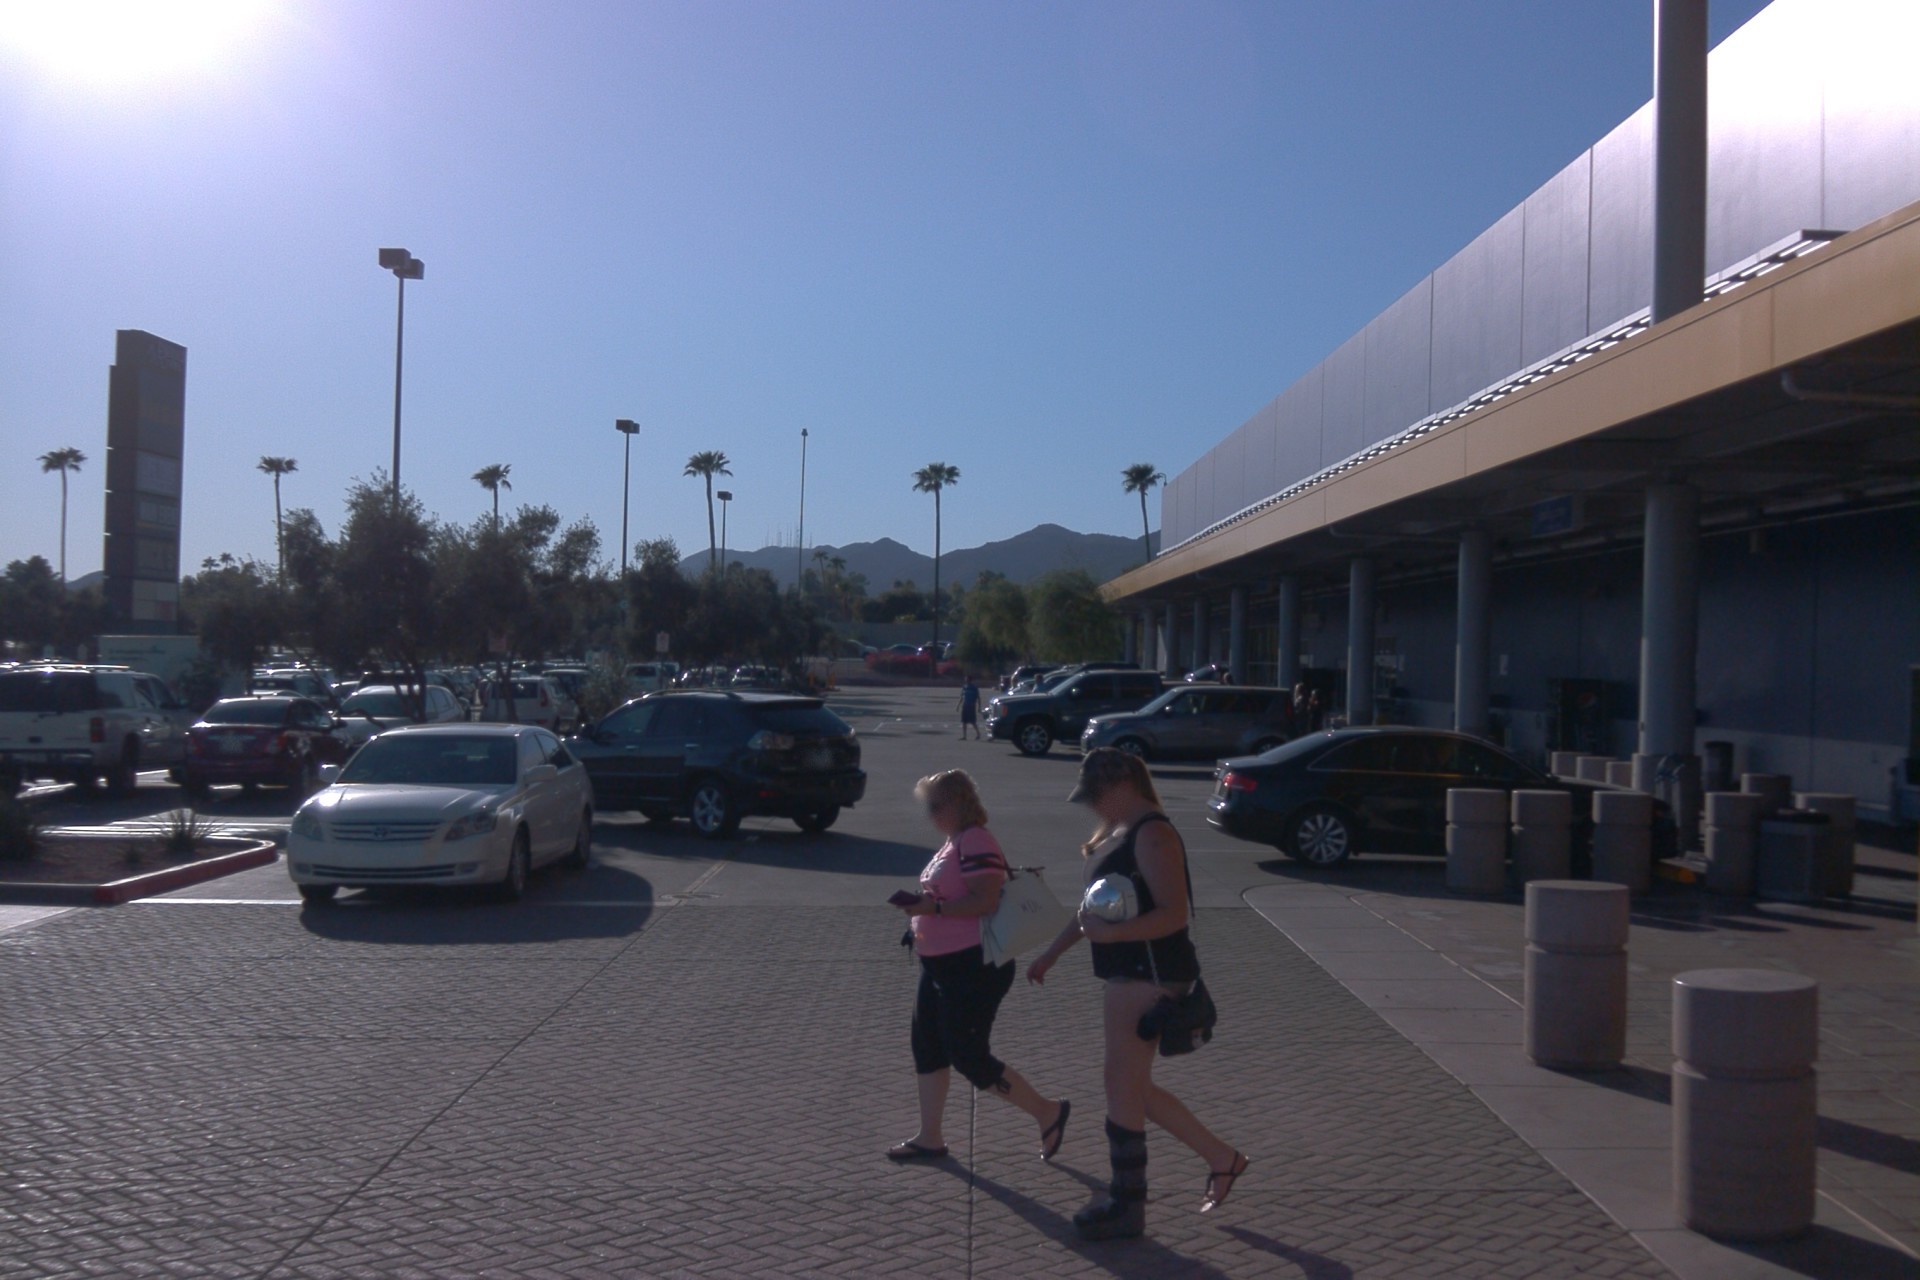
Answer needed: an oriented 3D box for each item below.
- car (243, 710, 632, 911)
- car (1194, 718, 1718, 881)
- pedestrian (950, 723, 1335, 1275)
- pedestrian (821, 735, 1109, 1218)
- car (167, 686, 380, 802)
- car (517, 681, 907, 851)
[{"bbox_3d":[-4.525,1.430,18.932,2.148,1.440,4.950,1,-1,2],"label":"car"},{"bbox_3d":[4.899,1.573,21.096,4.792,1.460,2.078,1,0,0],"label":"car"},{"bbox_3d":[0.635,1.236,7.595,1.137,1.830,0.949,1,0,-13],"label":"pedestrian"},{"bbox_3d":[-0.007,1.318,8.545,1.000,1.810,1.000,1,0,-10],"label":"pedestrian"},{"bbox_3d":[-10.423,1.538,31.918,1.866,1.580,4.286,1,0,0],"label":"car"},{"bbox_3d":[-3.050,1.415,24.947,4.578,1.770,2.198,0,-1,43],"label":"car"}]
